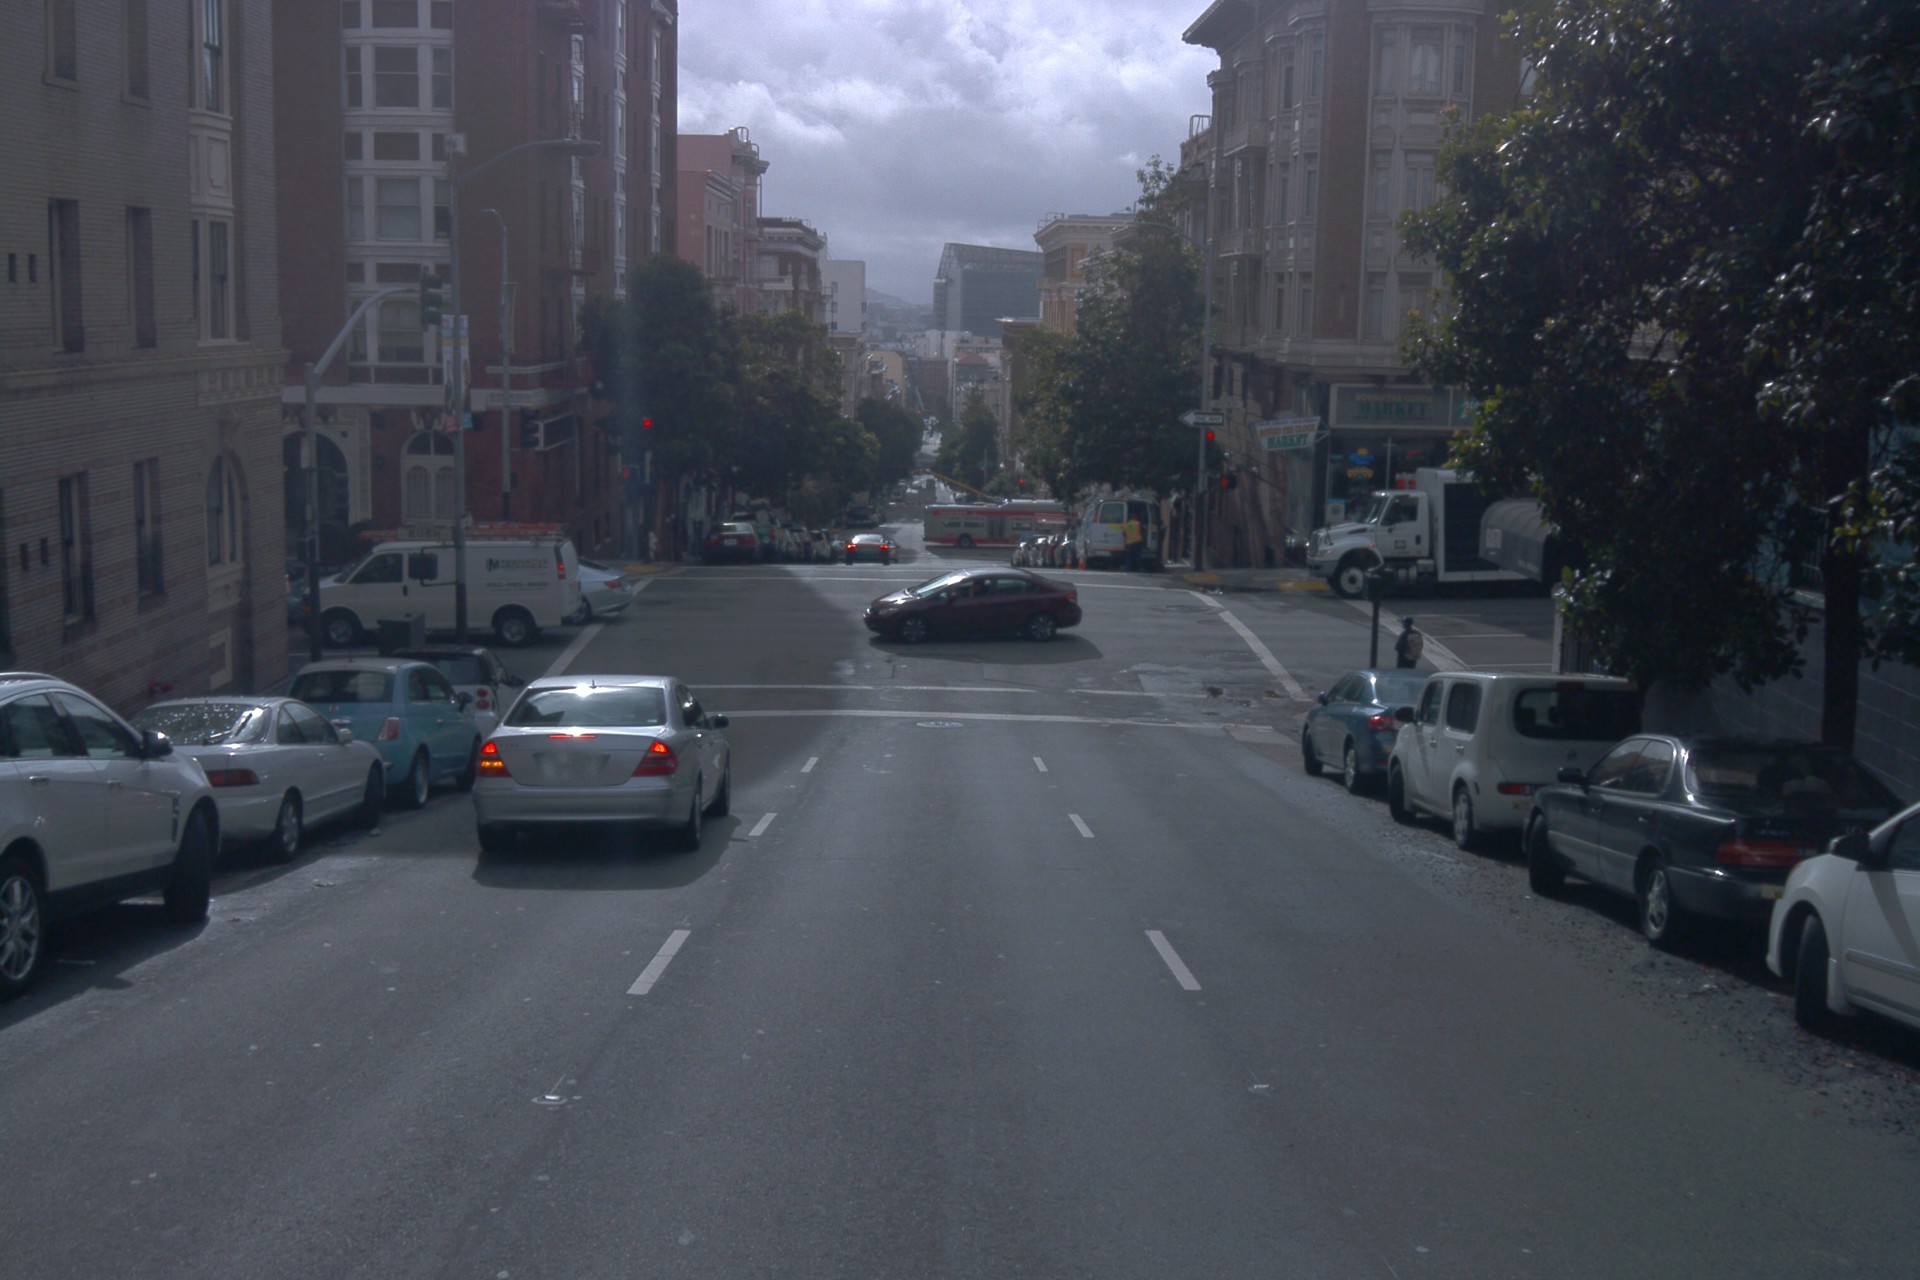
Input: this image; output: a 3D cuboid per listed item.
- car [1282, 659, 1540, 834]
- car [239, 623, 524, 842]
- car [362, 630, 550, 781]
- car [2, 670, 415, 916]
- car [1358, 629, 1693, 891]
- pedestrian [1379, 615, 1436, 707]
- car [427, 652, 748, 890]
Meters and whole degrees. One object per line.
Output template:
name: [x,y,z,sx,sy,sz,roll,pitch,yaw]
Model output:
car: [5.376,1.208,25.025,2.011,1.800,4.510,1,1,-2]
car: [-5.990,0.881,21.601,1.859,2.070,3.589,1,1,2]
car: [-6.274,0.770,25.733,1.776,1.740,2.835,1,1,-3]
car: [-6.156,1.171,17.330,1.958,1.670,4.250,1,1,-1]
car: [5.338,1.043,19.881,2.029,2.230,3.892,1,1,-2]
pedestrian: [7.954,0.367,36.367,0.752,1.590,0.926,1,1,-2]
car: [-3.113,1.027,18.097,2.074,1.700,4.689,1,1,-2]
